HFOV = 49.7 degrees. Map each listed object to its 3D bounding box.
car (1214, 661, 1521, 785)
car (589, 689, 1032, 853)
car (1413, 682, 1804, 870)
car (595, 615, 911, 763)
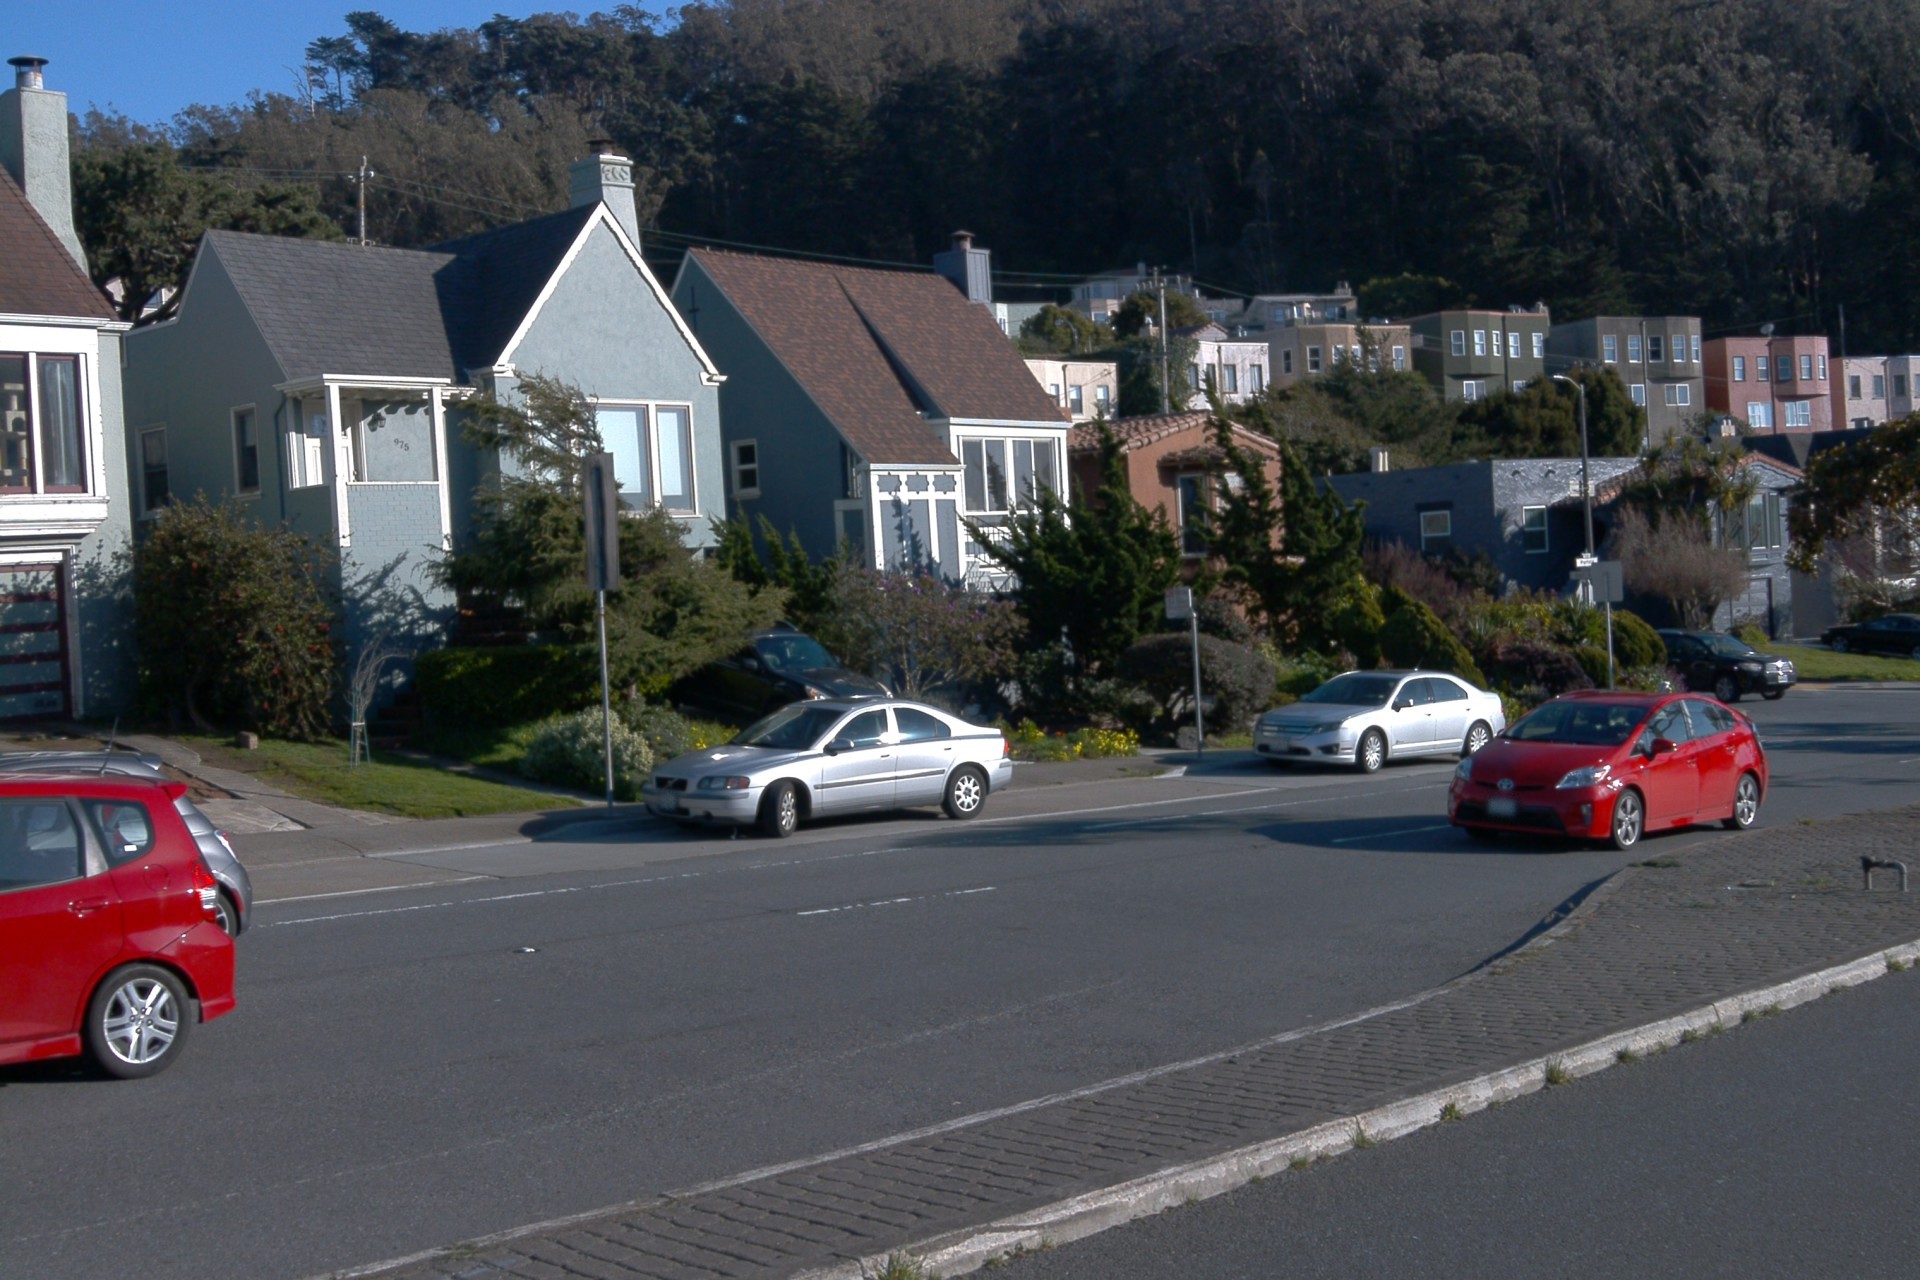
[{"bbox_3d":[6.196,1.172,31.181,4.885,1.640,2.093,-1,0,-44],"label":"car"},{"bbox_3d":[-1.581,1.379,23.284,4.758,1.510,2.056,-1,0,-44],"label":"car"},{"bbox_3d":[6.809,1.305,21.501,4.509,1.620,1.982,-1,0,-45],"label":"car"},{"bbox_3d":[-3.164,0.678,31.109,4.652,2.060,2.071,0,0,41],"label":"car"}]
